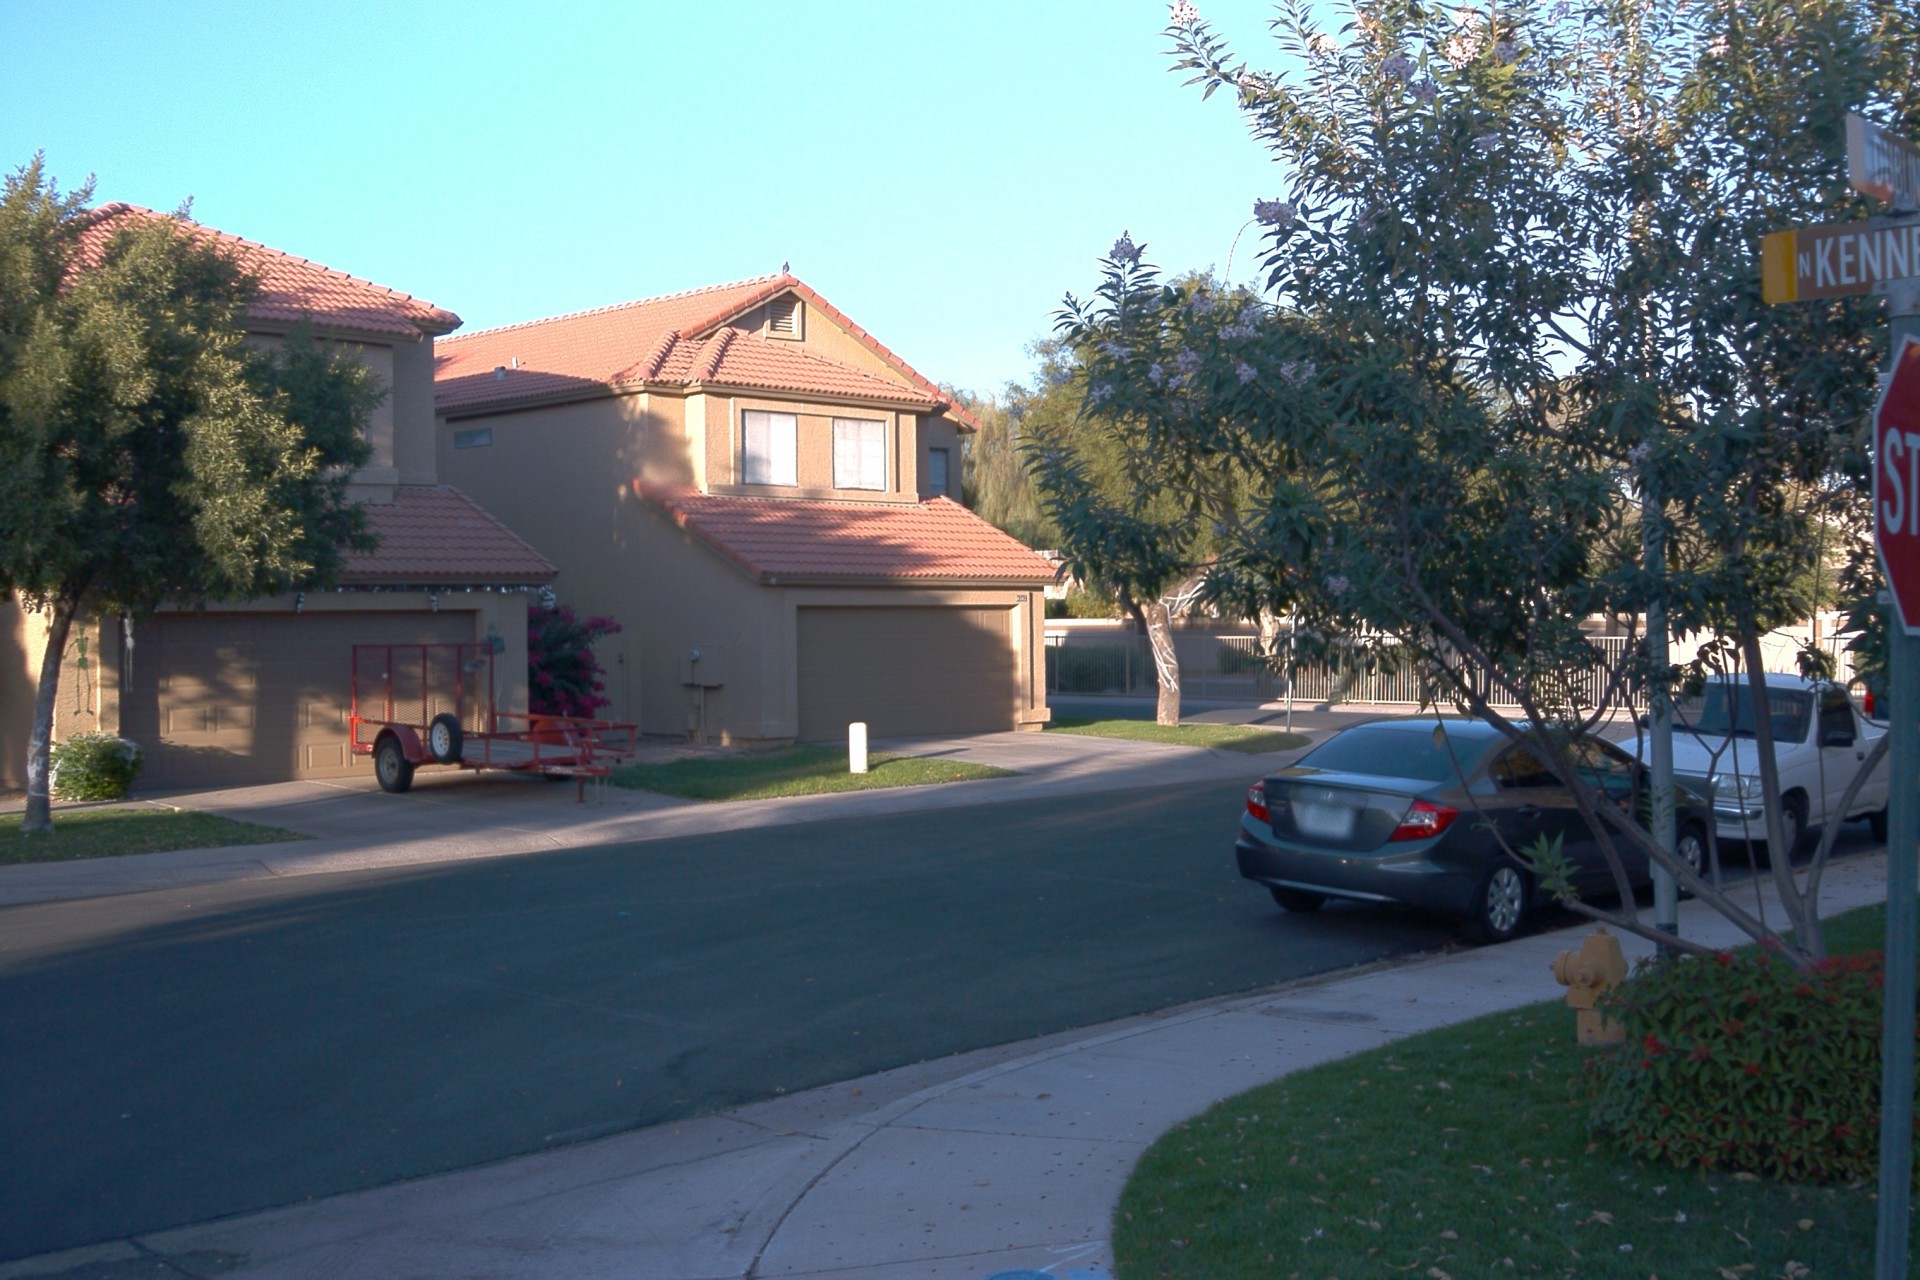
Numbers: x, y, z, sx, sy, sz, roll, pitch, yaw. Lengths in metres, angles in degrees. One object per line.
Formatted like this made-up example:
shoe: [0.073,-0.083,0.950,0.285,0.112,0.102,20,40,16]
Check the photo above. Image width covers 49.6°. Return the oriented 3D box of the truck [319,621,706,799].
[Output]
truck: [-5.391,0.767,24.734,2.622,1.900,4.348,1,-1,-43]

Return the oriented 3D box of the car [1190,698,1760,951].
car: [3.859,1.197,15.087,2.054,1.470,4.462,0,-1,44]
